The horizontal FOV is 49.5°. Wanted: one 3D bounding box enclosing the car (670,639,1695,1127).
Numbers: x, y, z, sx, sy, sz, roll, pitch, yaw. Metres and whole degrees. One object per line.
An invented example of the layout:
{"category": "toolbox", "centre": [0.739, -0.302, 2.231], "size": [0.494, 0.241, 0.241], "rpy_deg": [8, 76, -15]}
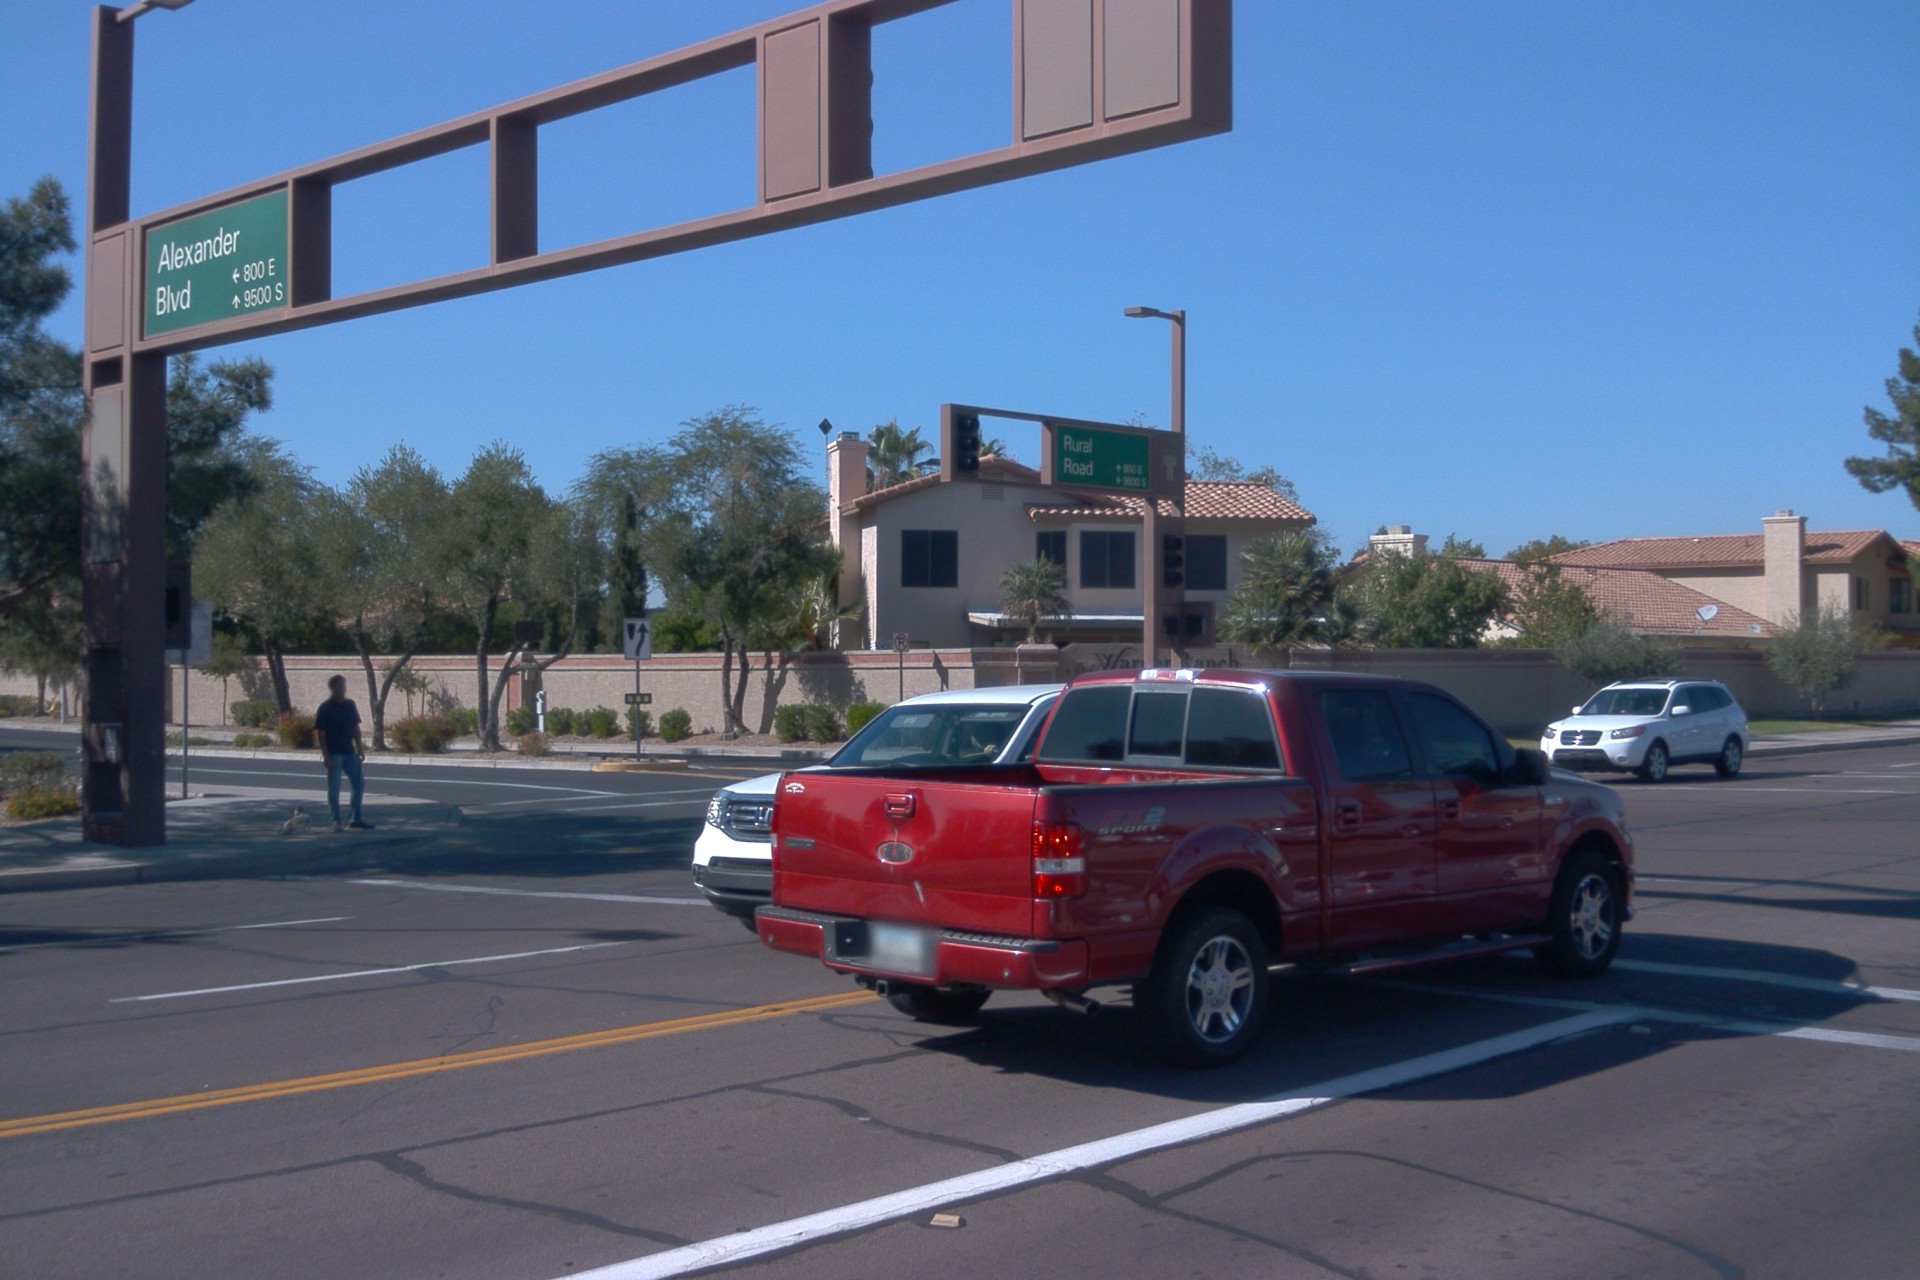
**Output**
{"category": "car", "centre": [1.523, 1.022, 11.514], "size": [2.571, 1.980, 5.819], "rpy_deg": [1, 0, 44]}

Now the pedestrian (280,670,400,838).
{"category": "pedestrian", "centre": [-7.407, 1.333, 24.873], "size": [1.004, 1.940, 0.996], "rpy_deg": [1, 0, -44]}

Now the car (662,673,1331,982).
{"category": "car", "centre": [0.412, 1.197, 15.280], "size": [2.214, 1.850, 4.757], "rpy_deg": [0, 0, 45]}

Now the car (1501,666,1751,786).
{"category": "car", "centre": [11.465, 1.409, 35.665], "size": [4.599, 1.880, 2.171], "rpy_deg": [1, 0, -45]}
